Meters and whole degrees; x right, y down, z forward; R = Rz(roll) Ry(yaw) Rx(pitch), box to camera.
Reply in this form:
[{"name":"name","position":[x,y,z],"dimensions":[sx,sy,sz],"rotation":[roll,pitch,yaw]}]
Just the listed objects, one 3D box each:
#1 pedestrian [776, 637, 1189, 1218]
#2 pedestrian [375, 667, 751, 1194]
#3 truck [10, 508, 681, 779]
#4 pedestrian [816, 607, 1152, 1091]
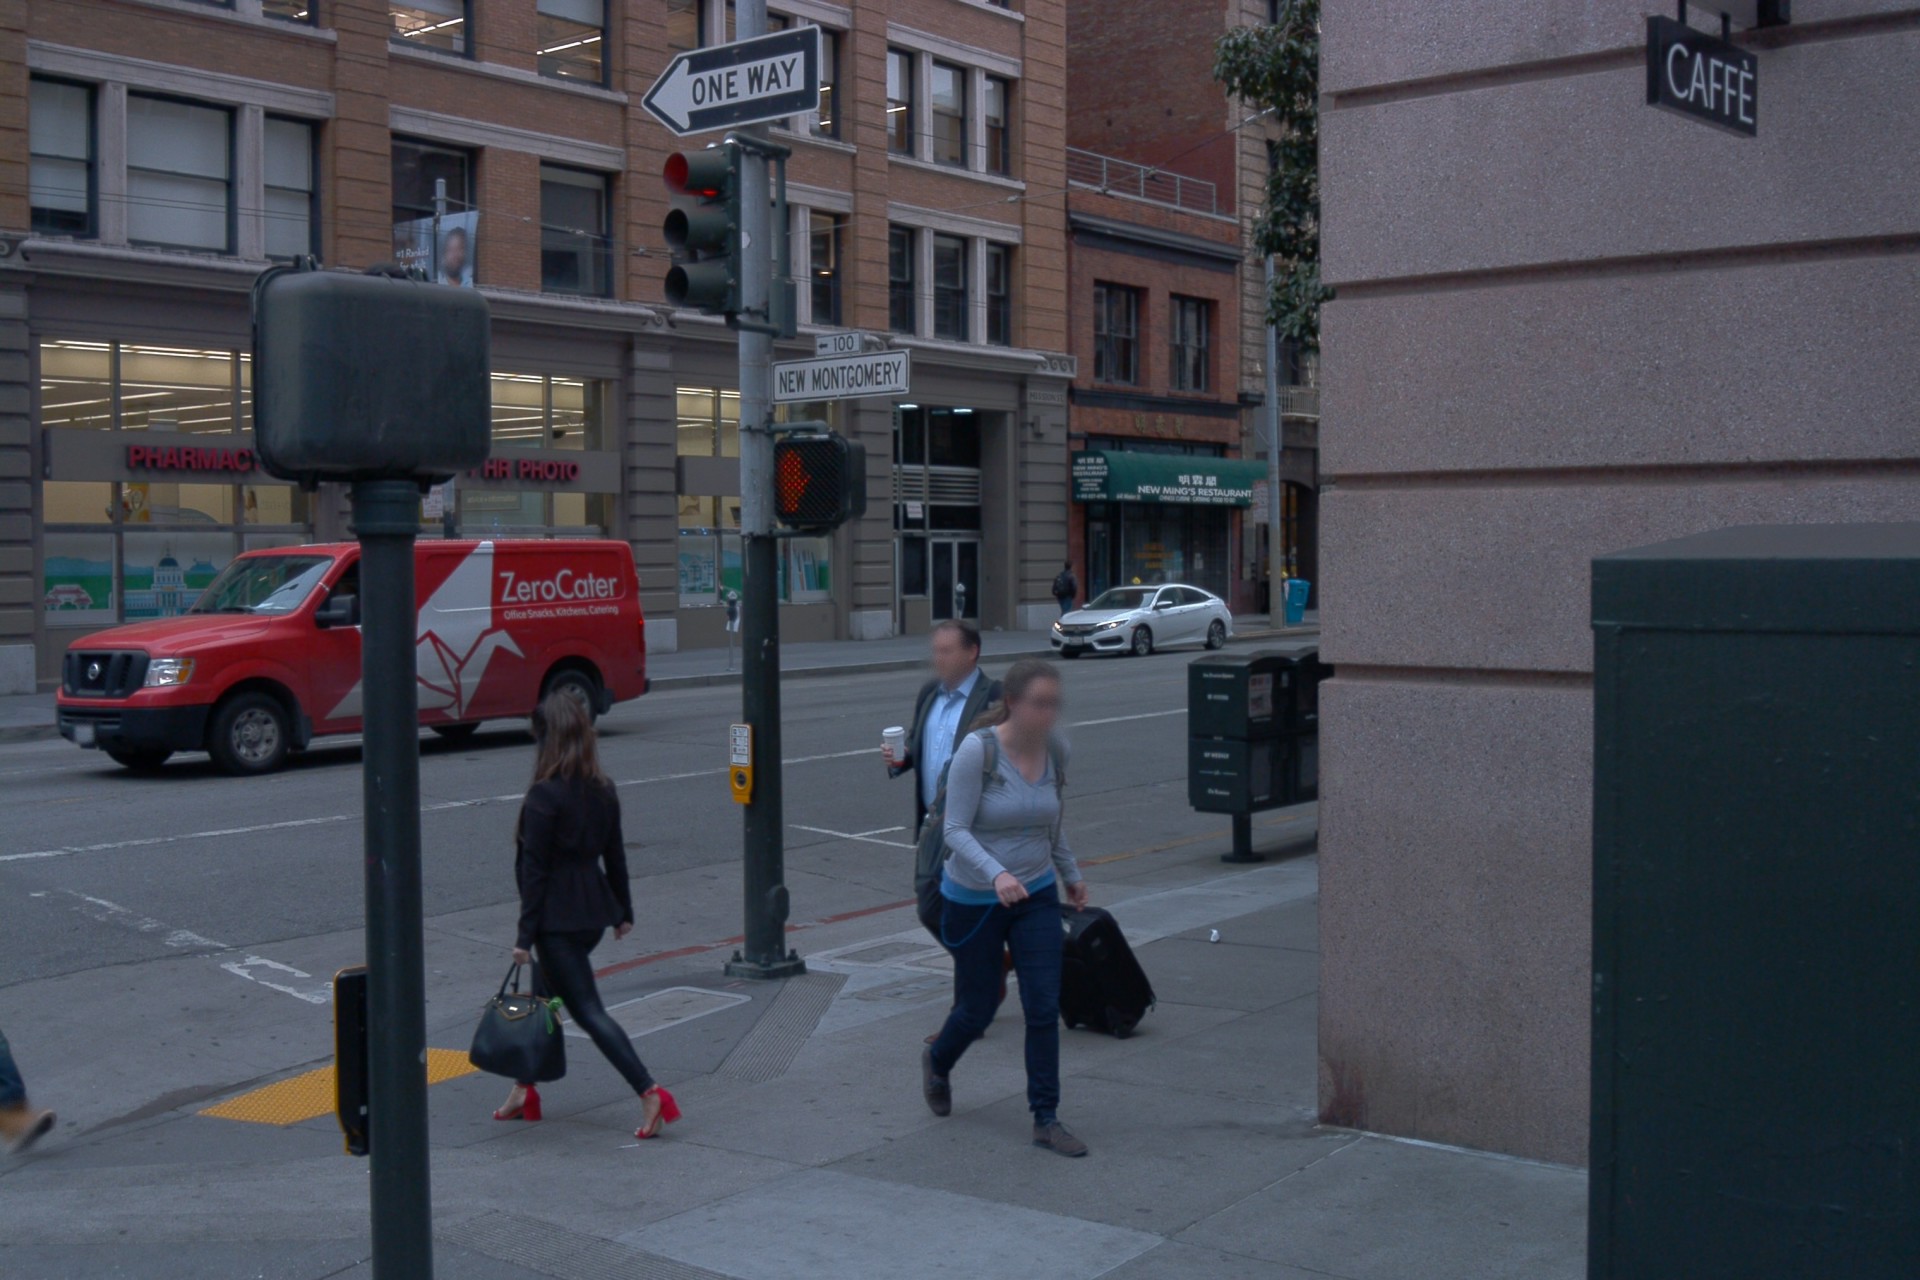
[{"name":"pedestrian","position":[0.062,0.878,7.017],"dimensions":[0.922,1.765,1.086],"rotation":[-1,1,-38]},{"name":"pedestrian","position":[-1.426,0.967,7.434],"dimensions":[1.093,1.710,0.782],"rotation":[0,1,33]},{"name":"truck","position":[-5.745,-0.001,20.235],"dimensions":[2.356,2.240,6.072],"rotation":[0,1,37]},{"name":"pedestrian","position":[0.106,0.796,8.620],"dimensions":[1.120,1.860,0.858],"rotation":[-1,1,-43]}]
